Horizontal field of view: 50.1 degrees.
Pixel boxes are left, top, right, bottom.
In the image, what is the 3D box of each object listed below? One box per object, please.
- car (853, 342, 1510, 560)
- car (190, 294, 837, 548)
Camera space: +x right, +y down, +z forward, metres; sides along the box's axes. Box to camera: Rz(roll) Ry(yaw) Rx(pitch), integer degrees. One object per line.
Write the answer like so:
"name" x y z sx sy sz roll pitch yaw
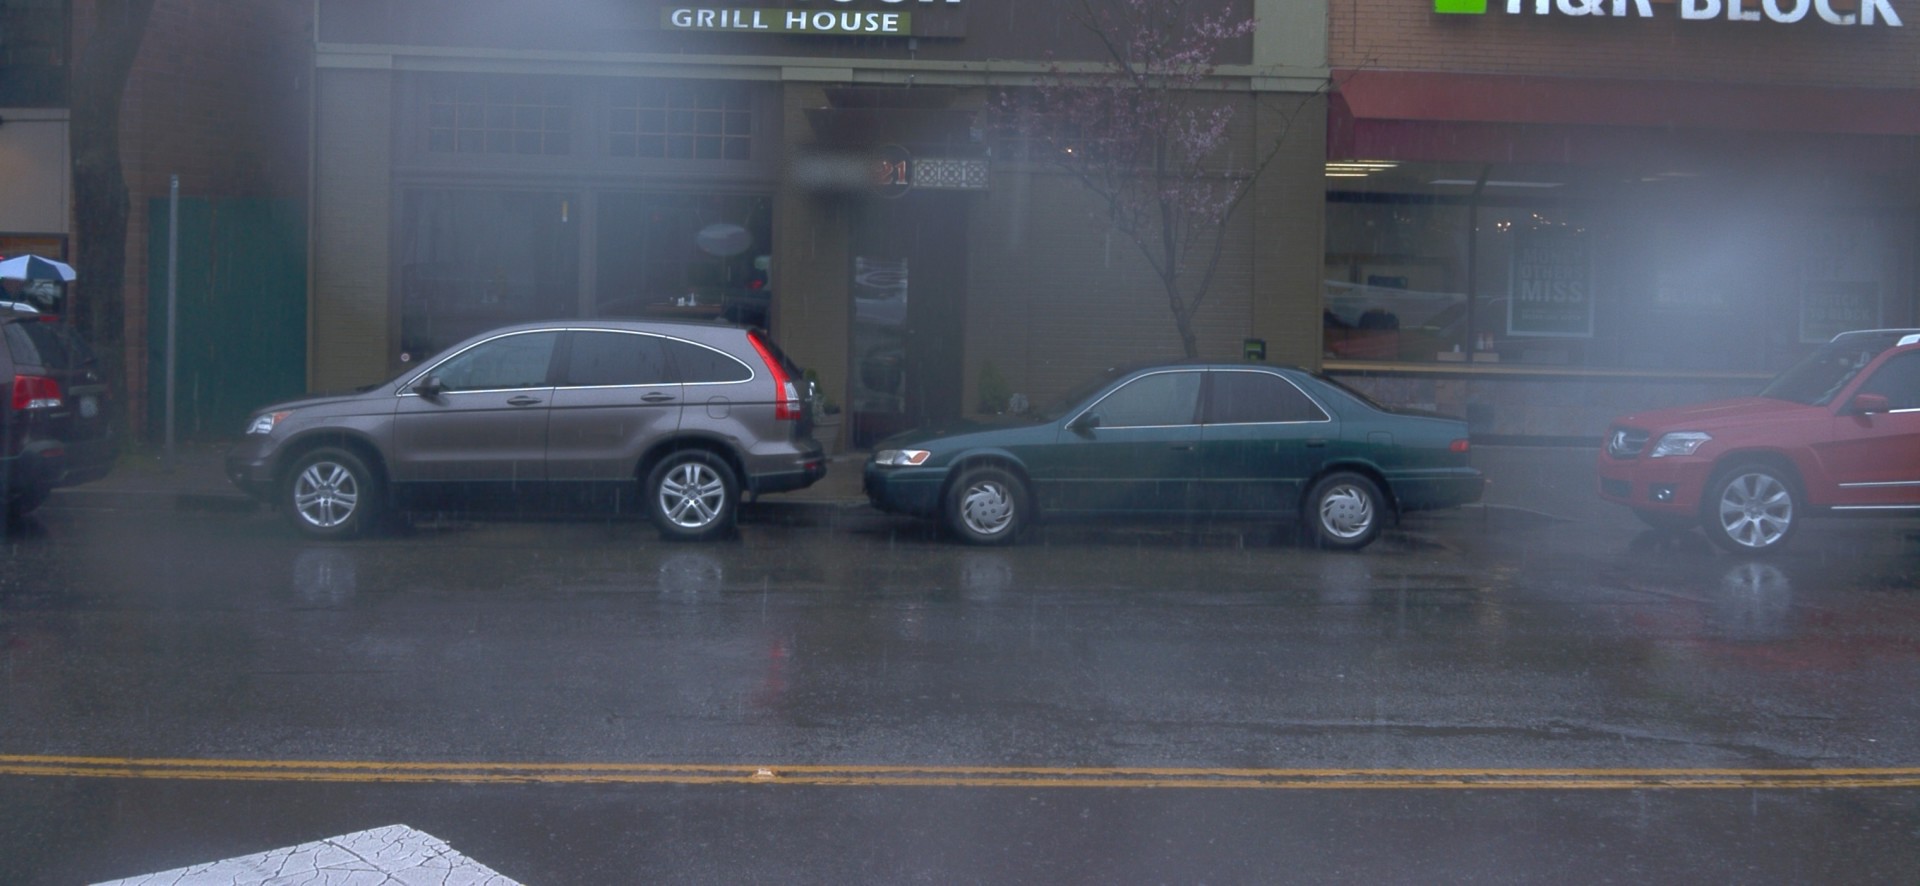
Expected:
"car" 1.593 0.016 15.965 4.796 1.414 1.988 1 5 -2
"car" -3.281 -0.216 15.797 4.605 1.724 1.918 0 4 -5
